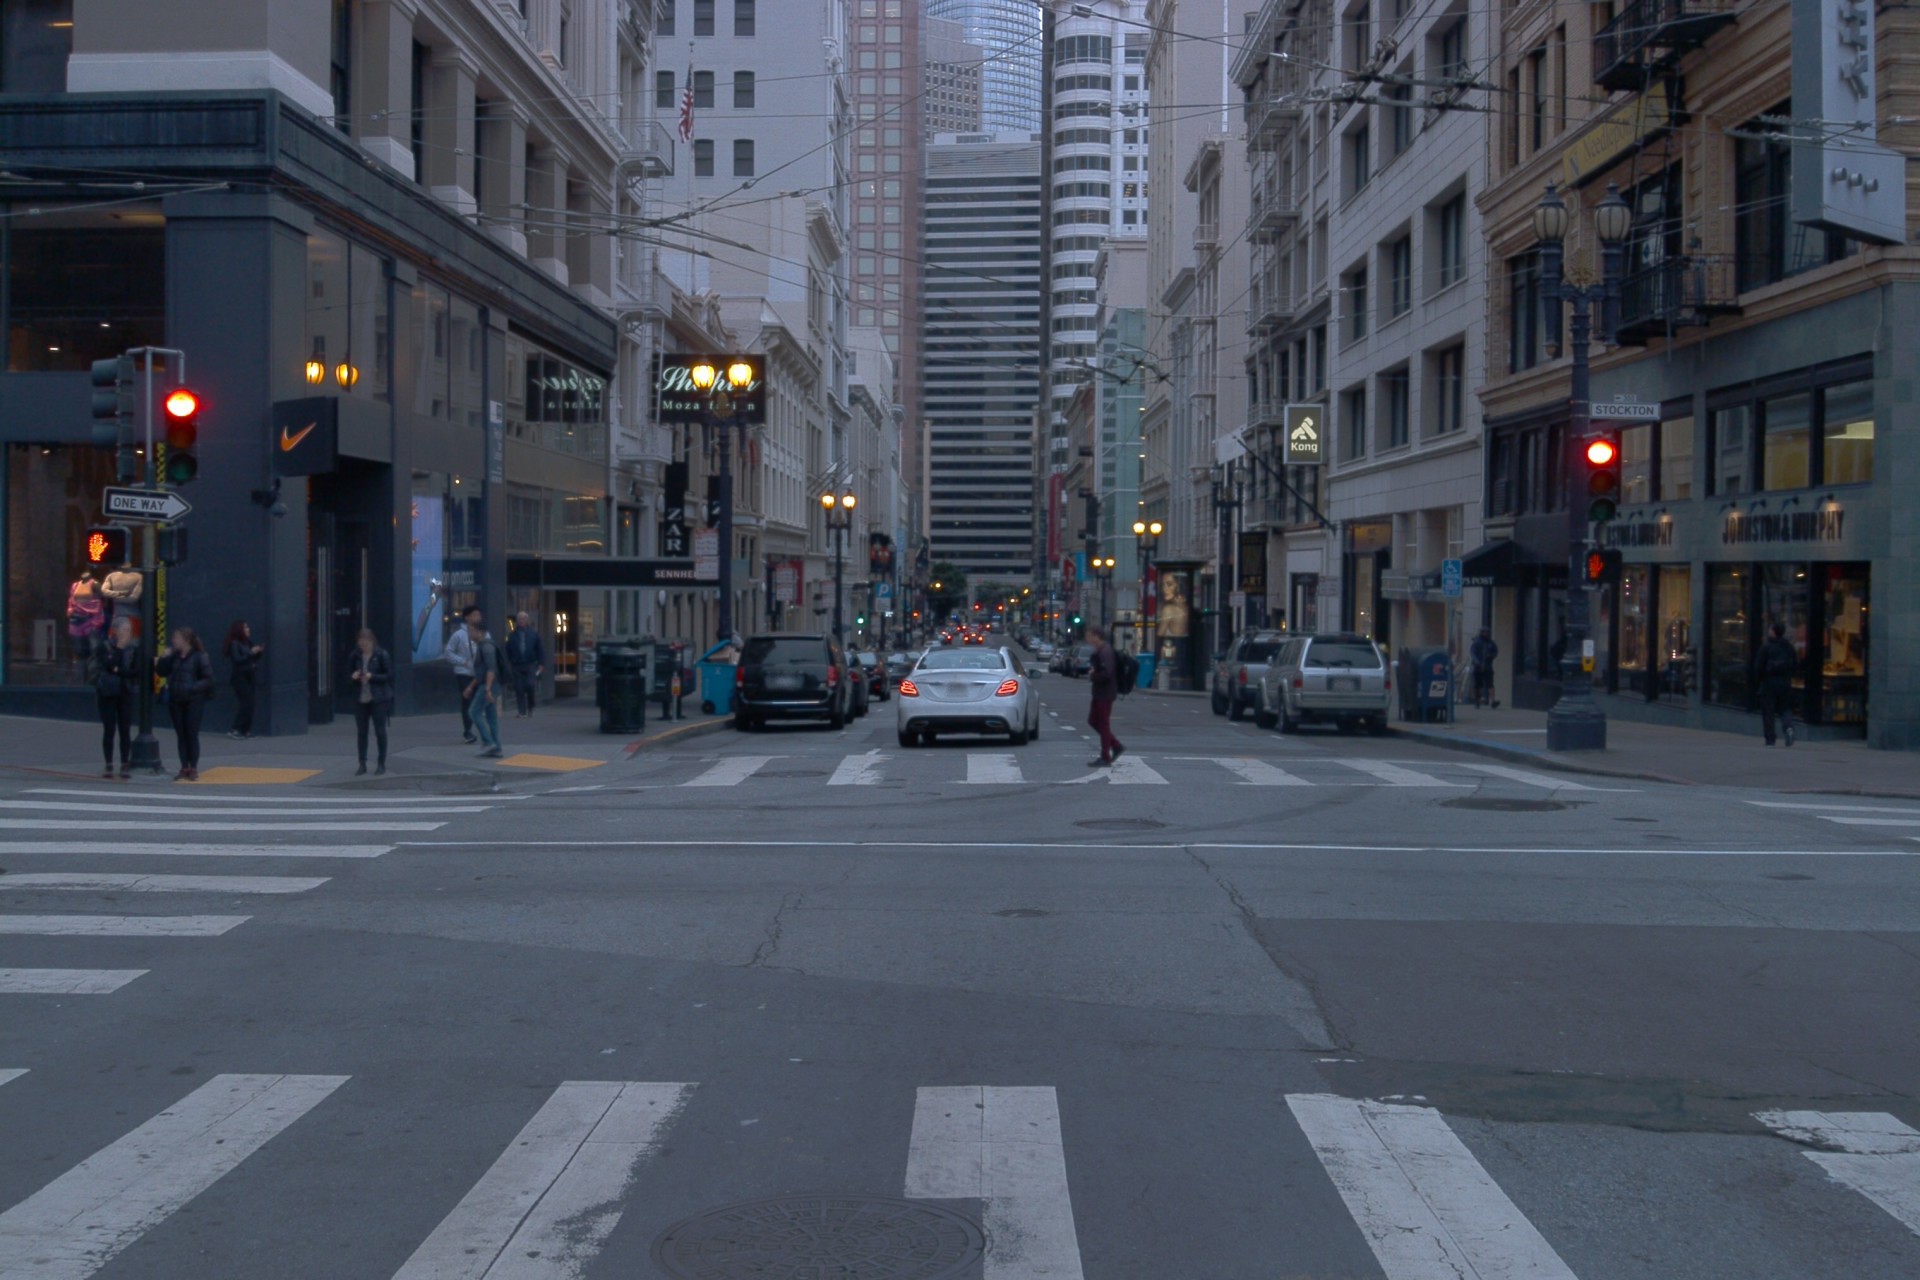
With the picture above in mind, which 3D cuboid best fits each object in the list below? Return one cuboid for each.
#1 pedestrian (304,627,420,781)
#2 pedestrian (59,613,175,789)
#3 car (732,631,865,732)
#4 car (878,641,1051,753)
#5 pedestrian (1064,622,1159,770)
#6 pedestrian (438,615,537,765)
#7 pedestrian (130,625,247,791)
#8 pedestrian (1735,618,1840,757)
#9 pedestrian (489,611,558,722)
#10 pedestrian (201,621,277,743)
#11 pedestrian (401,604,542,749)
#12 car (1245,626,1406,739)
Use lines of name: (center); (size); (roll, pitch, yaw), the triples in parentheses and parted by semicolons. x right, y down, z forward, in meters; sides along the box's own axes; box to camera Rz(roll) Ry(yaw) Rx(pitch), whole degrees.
pedestrian: (-6.499, 0.679, 22.280); (0.974, 1.630, 1.122); (0, 1, -3)
pedestrian: (-8.865, 0.619, 21.555); (0.897, 1.800, 1.086); (0, 1, -8)
car: (-2.829, 0.692, 36.779); (1.946, 1.699, 4.331); (0, 1, 2)
car: (0.162, 0.758, 29.746); (2.085, 1.440, 4.818); (0, 1, 6)
pedestrian: (1.744, 0.632, 23.588); (1.000, 1.680, 0.673); (0, 1, -4)
pedestrian: (-5.668, 0.581, 24.510); (1.123, 1.750, 1.076); (0, 1, -14)
pedestrian: (-8.173, 0.698, 21.705); (0.954, 1.710, 1.071); (0, 1, -8)
pedestrian: (10.811, 0.602, 26.775); (0.891, 1.770, 1.163); (0, 1, 0)
pedestrian: (-7.240, 0.426, 33.970); (1.000, 1.820, 1.000); (0, 1, -5)
pedestrian: (-8.987, 0.519, 25.517); (0.686, 1.500, 0.639); (0, 1, 6)
pedestrian: (-6.214, 0.441, 26.022); (1.302, 1.773, 1.285); (0, 1, -40)
car: (6.359, 0.692, 36.049); (1.952, 1.860, 4.298); (0, 1, -1)
